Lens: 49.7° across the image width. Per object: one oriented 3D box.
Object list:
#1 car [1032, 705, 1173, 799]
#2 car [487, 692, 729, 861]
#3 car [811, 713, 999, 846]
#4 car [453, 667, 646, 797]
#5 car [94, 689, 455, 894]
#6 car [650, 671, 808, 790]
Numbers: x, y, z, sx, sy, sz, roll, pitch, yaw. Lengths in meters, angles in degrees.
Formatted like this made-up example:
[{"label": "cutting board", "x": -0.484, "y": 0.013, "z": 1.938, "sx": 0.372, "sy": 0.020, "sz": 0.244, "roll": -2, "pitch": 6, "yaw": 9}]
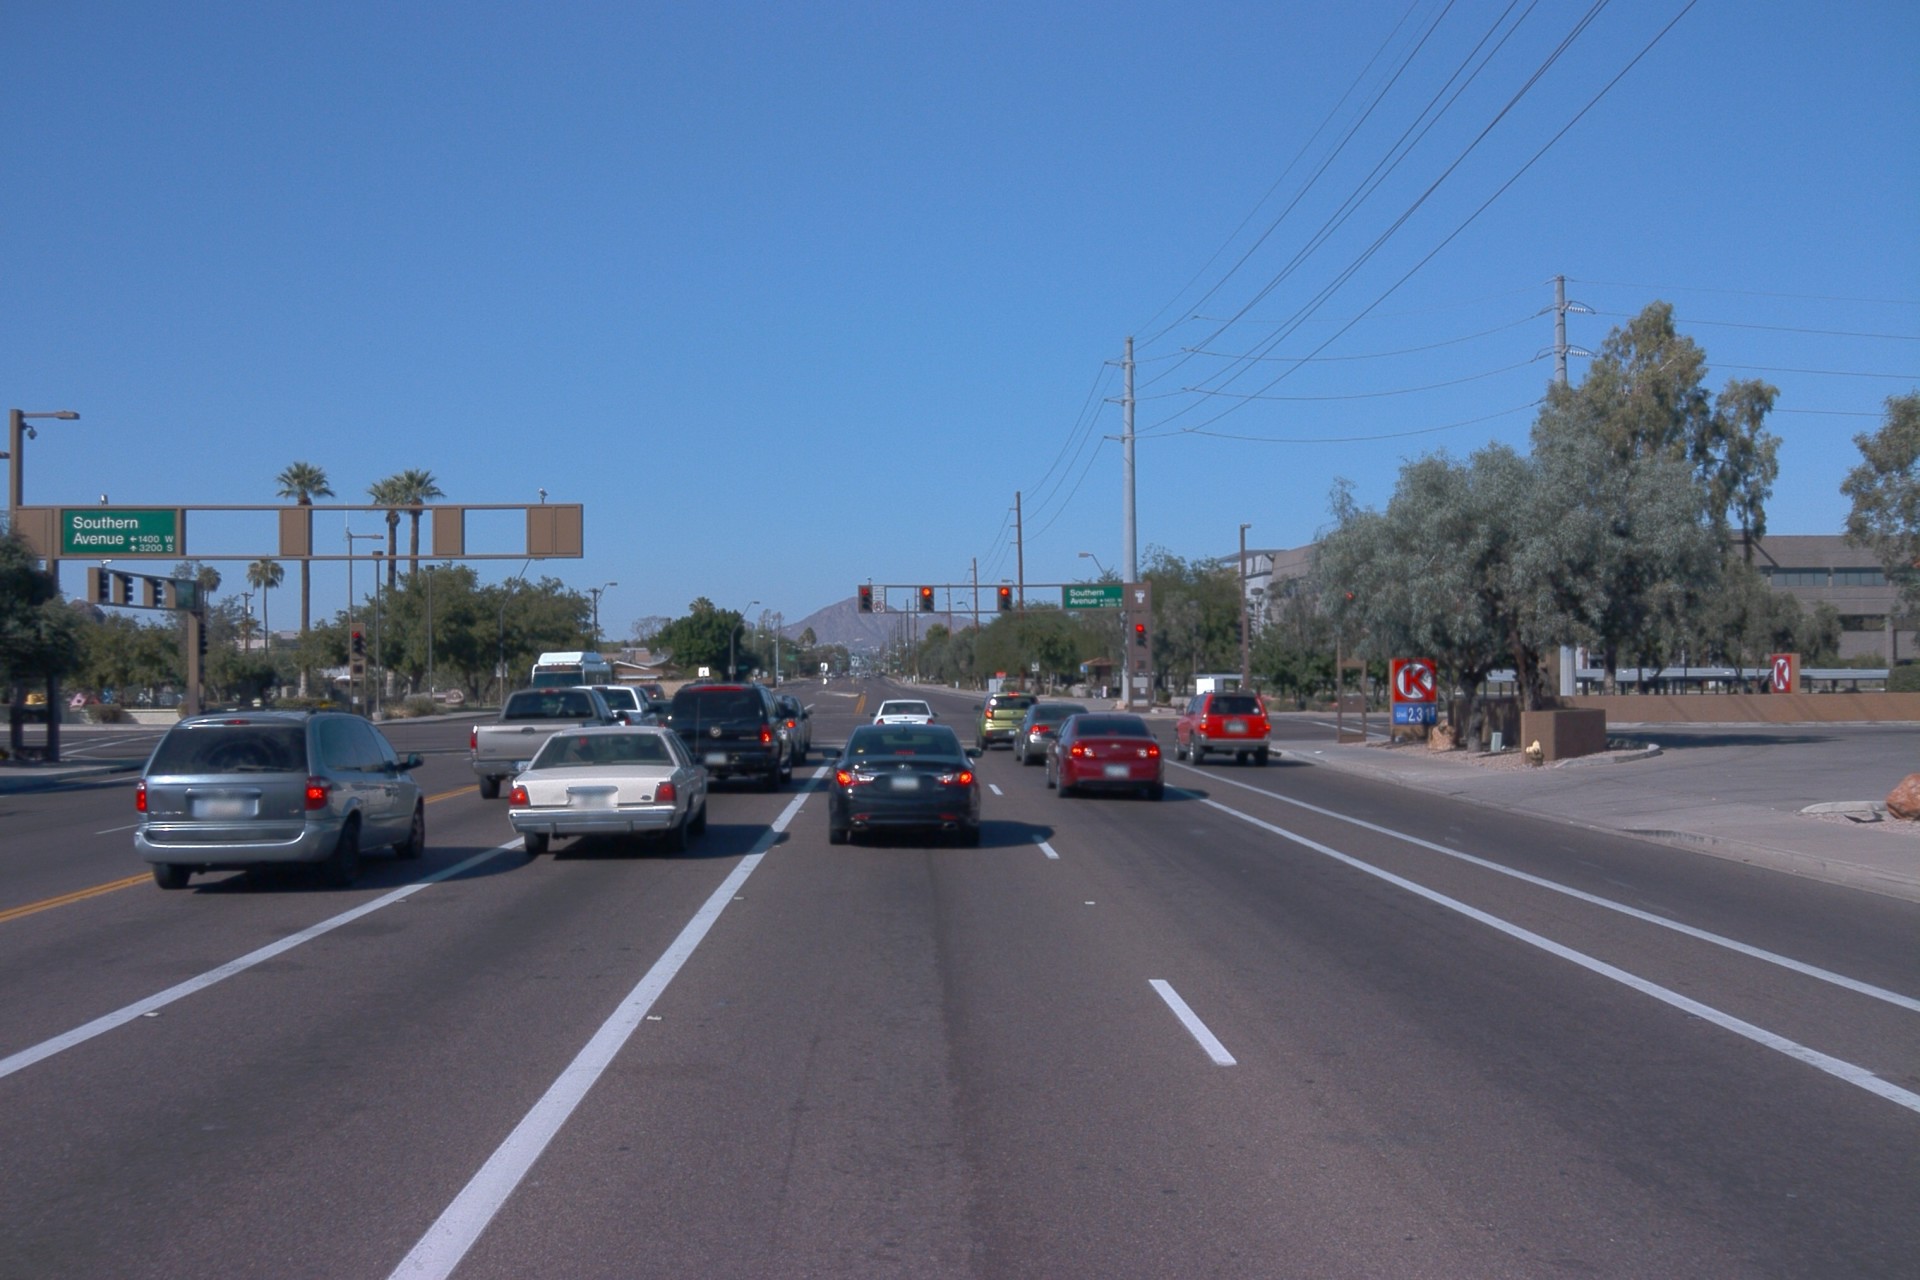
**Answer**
[{"label": "car", "x": 2.409, "y": 1.904, "z": 36.215, "sx": 1.960, "sy": 1.480, "sz": 4.831, "roll": 0, "pitch": -1, "yaw": -2}, {"label": "car", "x": -4.103, "y": 1.544, "z": 25.111, "sx": 2.178, "sy": 1.790, "sz": 5.373, "roll": 0, "pitch": -1, "yaw": -2}, {"label": "car", "x": -0.722, "y": 1.697, "z": 26.347, "sx": 2.156, "sy": 1.470, "sz": 4.807, "roll": 0, "pitch": -1, "yaw": -2}, {"label": "car", "x": -7.010, "y": 1.533, "z": 36.058, "sx": 2.280, "sy": 2.080, "sz": 5.800, "roll": 0, "pitch": -1, "yaw": -1}, {"label": "car", "x": -6.957, "y": 1.461, "z": 21.701, "sx": 2.263, "sy": 1.880, "sz": 4.994, "roll": 0, "pitch": -1, "yaw": -2}, {"label": "car", "x": -4.035, "y": 1.556, "z": 37.078, "sx": 2.219, "sy": 1.970, "sz": 5.013, "roll": 0, "pitch": -1, "yaw": 1}]
